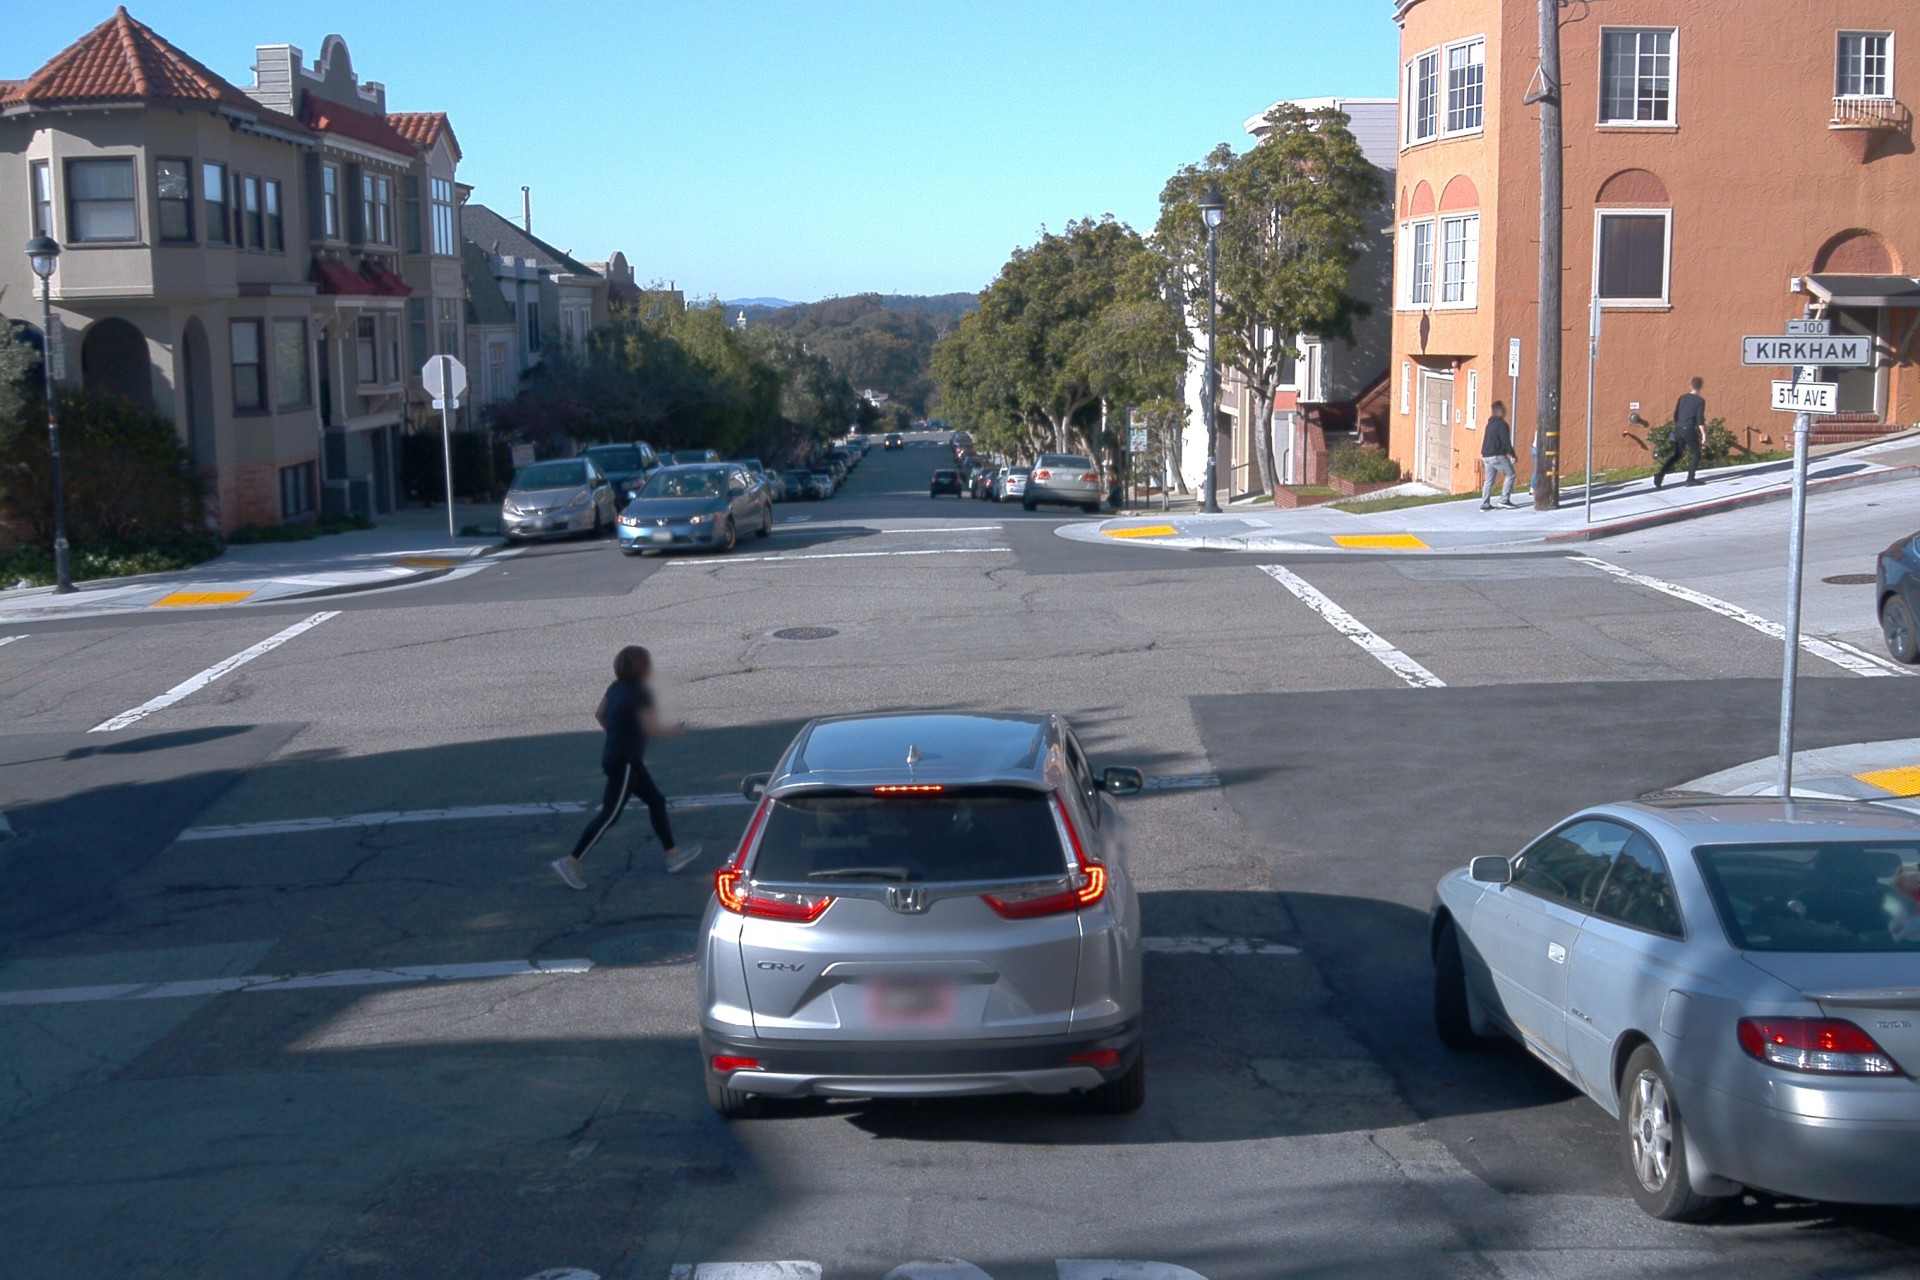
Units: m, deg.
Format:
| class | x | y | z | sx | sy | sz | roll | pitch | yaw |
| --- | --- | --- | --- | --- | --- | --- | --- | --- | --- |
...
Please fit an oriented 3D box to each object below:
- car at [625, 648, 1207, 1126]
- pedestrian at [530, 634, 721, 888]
| class | x | y | z | sx | sy | sz | roll | pitch | yaw |
| --- | --- | --- | --- | --- | --- | --- | --- | --- | --- |
| car | -0.178 | 0.944 | 10.152 | 2.191 | 1.800 | 4.695 | 0 | 0 | 0 |
| pedestrian | -2.227 | 0.773 | 13.754 | 1.128 | 1.620 | 0.731 | 0 | 0 | -21 |
